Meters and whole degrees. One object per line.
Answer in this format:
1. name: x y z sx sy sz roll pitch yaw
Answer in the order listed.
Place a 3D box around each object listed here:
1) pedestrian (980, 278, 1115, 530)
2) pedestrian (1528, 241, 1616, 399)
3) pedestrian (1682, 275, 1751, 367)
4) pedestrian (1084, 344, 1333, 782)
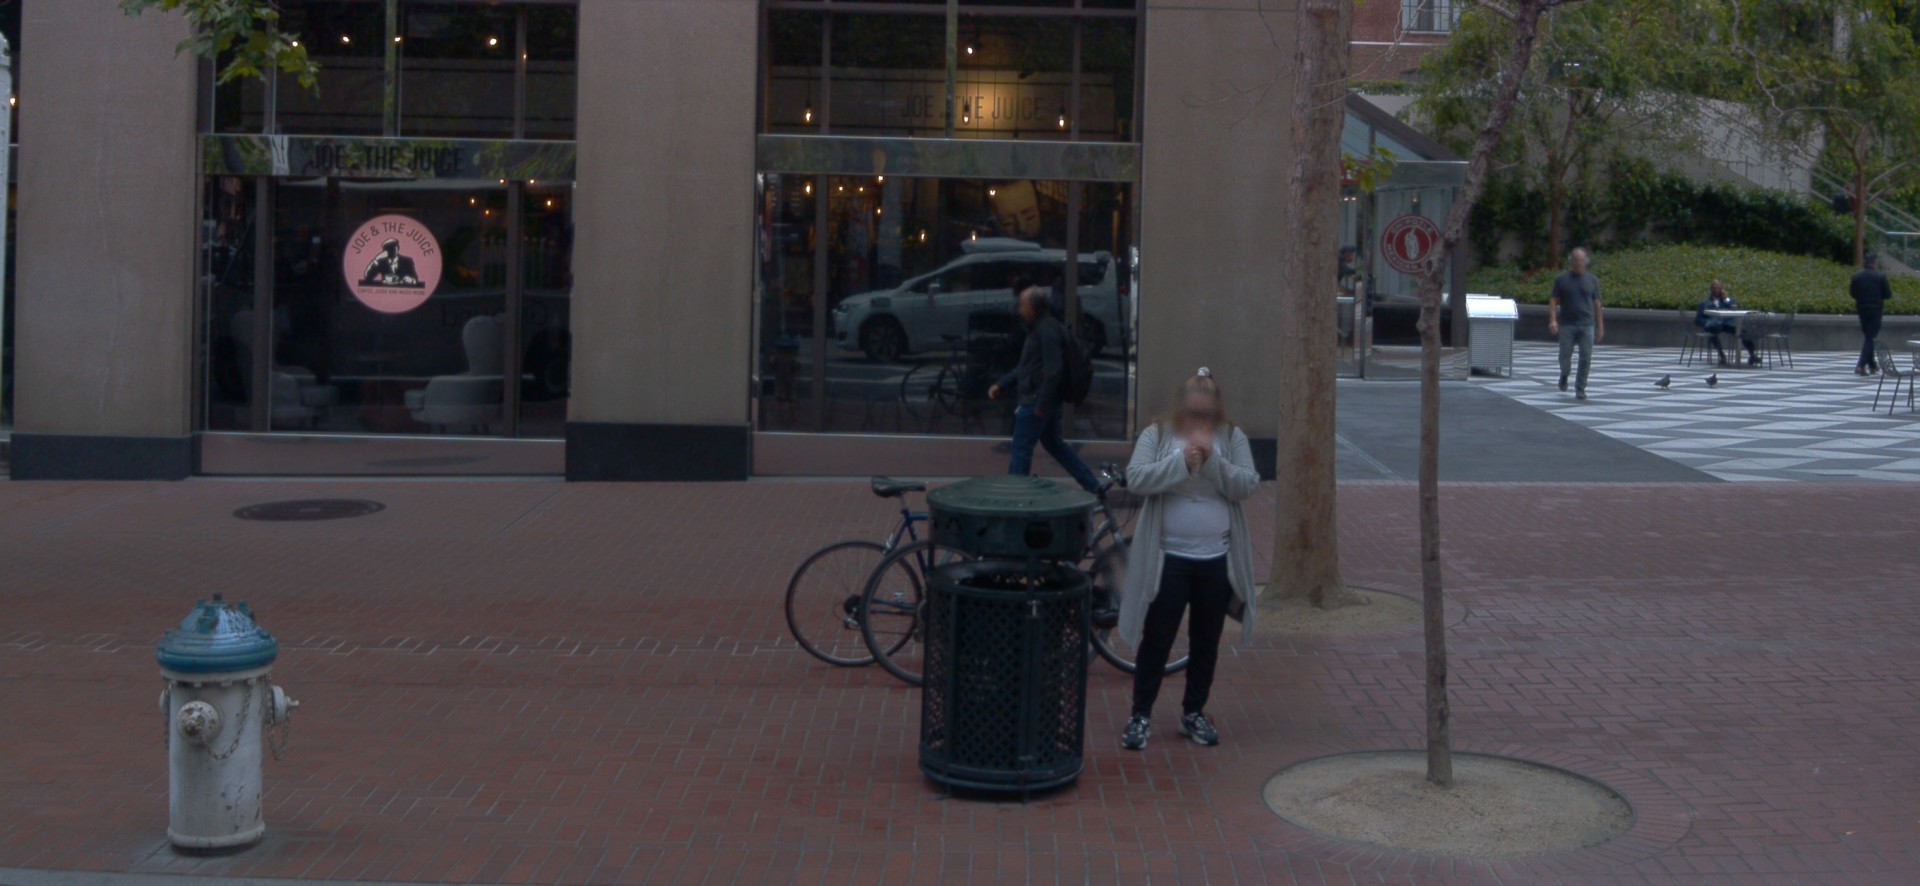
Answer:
1. pedestrian: 0.621 -0.309 14.934 0.894 1.761 0.753 0 1 -5
2. pedestrian: 7.075 -1.446 23.907 0.880 1.790 1.056 0 1 11
3. pedestrian: 10.884 -1.767 29.720 0.813 1.301 0.624 0 1 7
4. pedestrian: 1.023 0.456 8.725 0.907 1.701 0.916 0 1 -3
